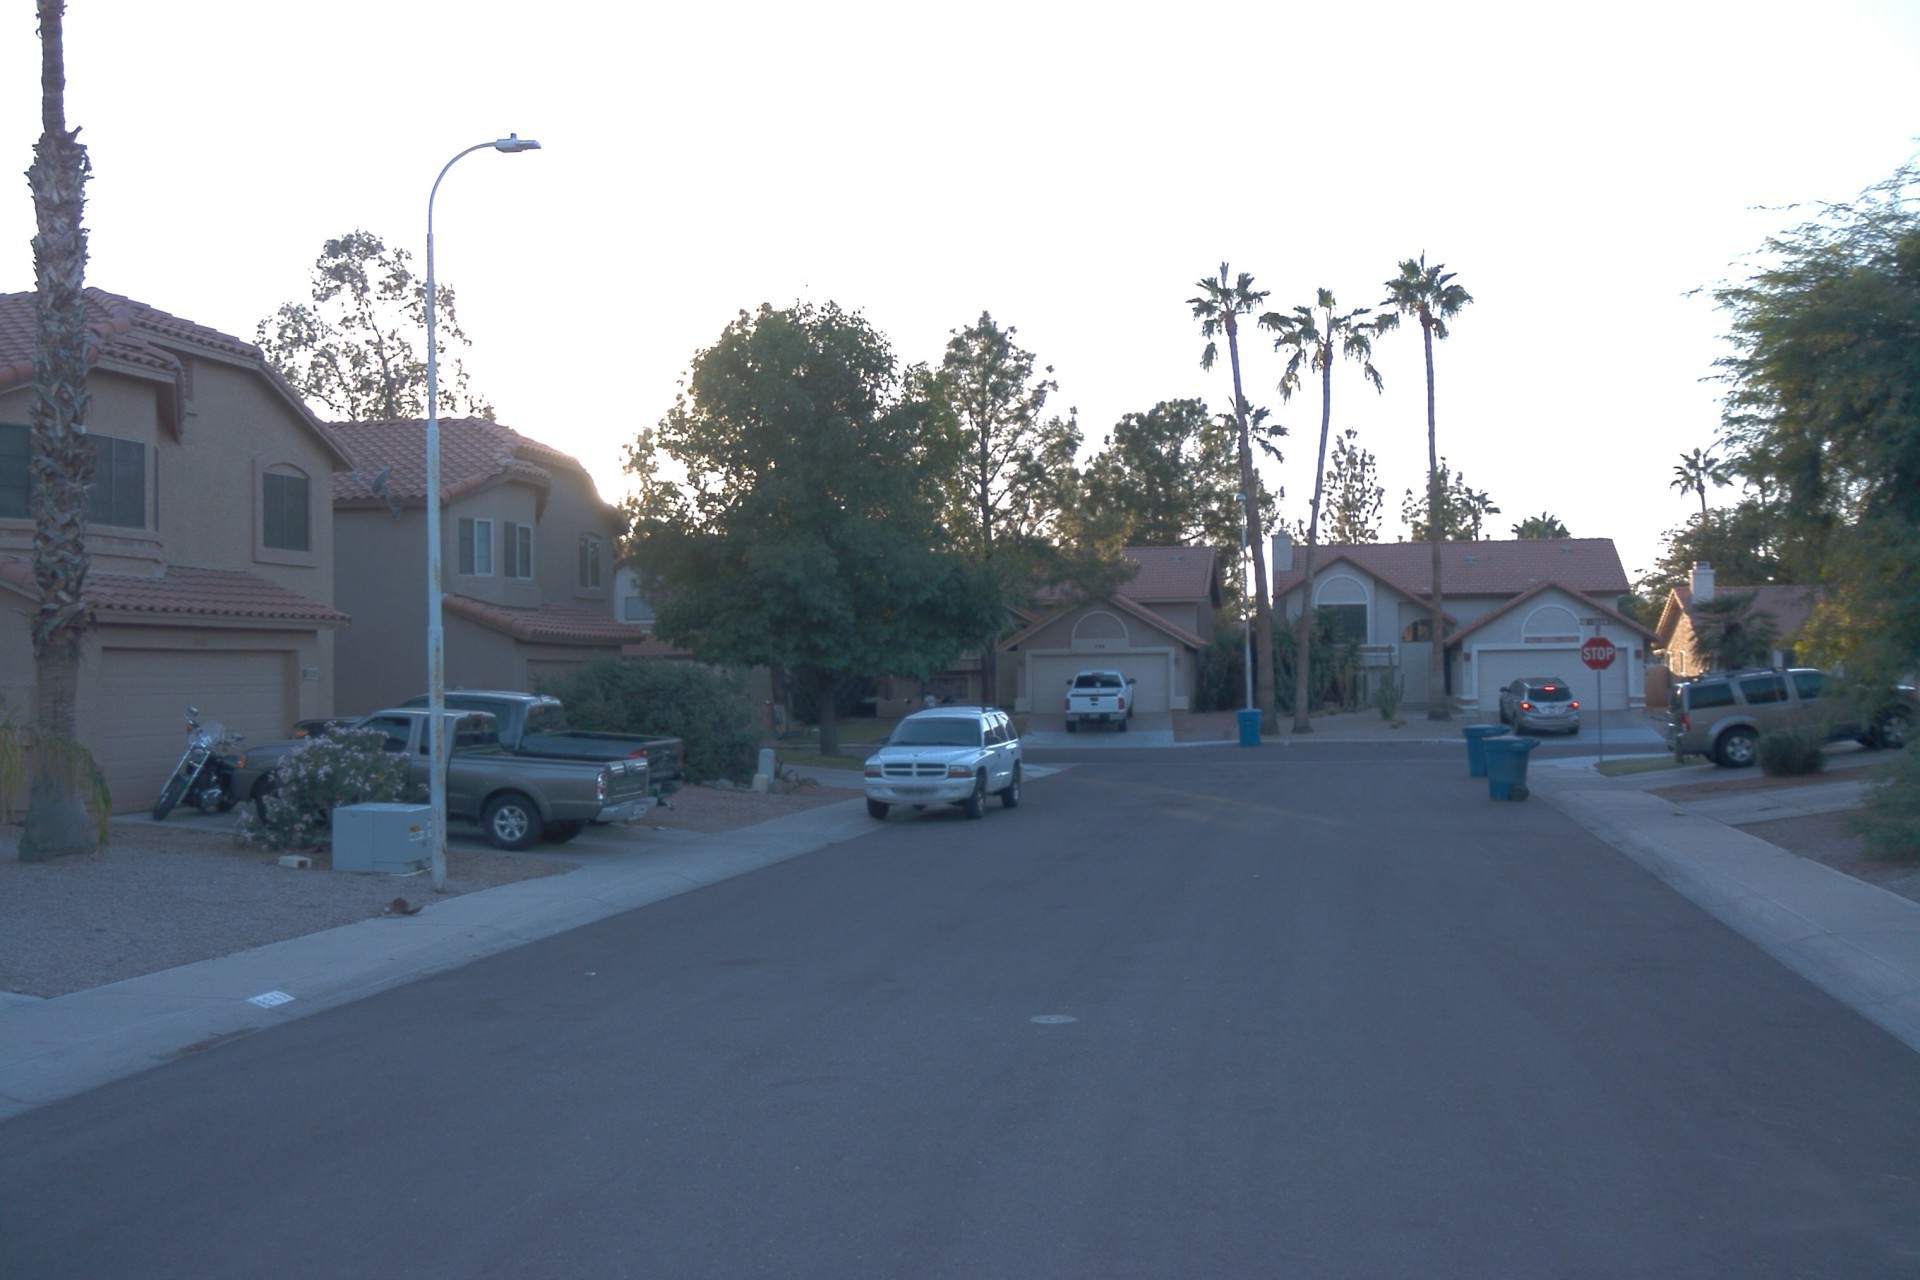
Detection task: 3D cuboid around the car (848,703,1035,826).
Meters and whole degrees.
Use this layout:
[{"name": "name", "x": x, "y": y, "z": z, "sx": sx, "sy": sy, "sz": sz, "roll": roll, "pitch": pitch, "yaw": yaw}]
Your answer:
[{"name": "car", "x": -0.204, "y": 1.971, "z": 34.235, "sx": 2.045, "sy": 1.830, "sz": 4.911, "roll": 0, "pitch": -1, "yaw": 12}]

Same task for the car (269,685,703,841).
[{"name": "car", "x": -6.494, "y": 1.655, "z": 28.759, "sx": 5.410, "sy": 2.030, "sz": 2.214, "roll": 0, "pitch": -1, "yaw": 11}]

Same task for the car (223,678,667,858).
[{"name": "car", "x": -6.391, "y": 1.556, "z": 26.071, "sx": 5.030, "sy": 2.130, "sz": 1.968, "roll": 0, "pitch": -1, "yaw": 10}]

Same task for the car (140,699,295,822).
[{"name": "car", "x": -9.444, "y": 1.507, "z": 26.580, "sx": 0.914, "sy": 1.480, "sz": 2.175, "roll": 0, "pitch": -1, "yaw": 10}]
